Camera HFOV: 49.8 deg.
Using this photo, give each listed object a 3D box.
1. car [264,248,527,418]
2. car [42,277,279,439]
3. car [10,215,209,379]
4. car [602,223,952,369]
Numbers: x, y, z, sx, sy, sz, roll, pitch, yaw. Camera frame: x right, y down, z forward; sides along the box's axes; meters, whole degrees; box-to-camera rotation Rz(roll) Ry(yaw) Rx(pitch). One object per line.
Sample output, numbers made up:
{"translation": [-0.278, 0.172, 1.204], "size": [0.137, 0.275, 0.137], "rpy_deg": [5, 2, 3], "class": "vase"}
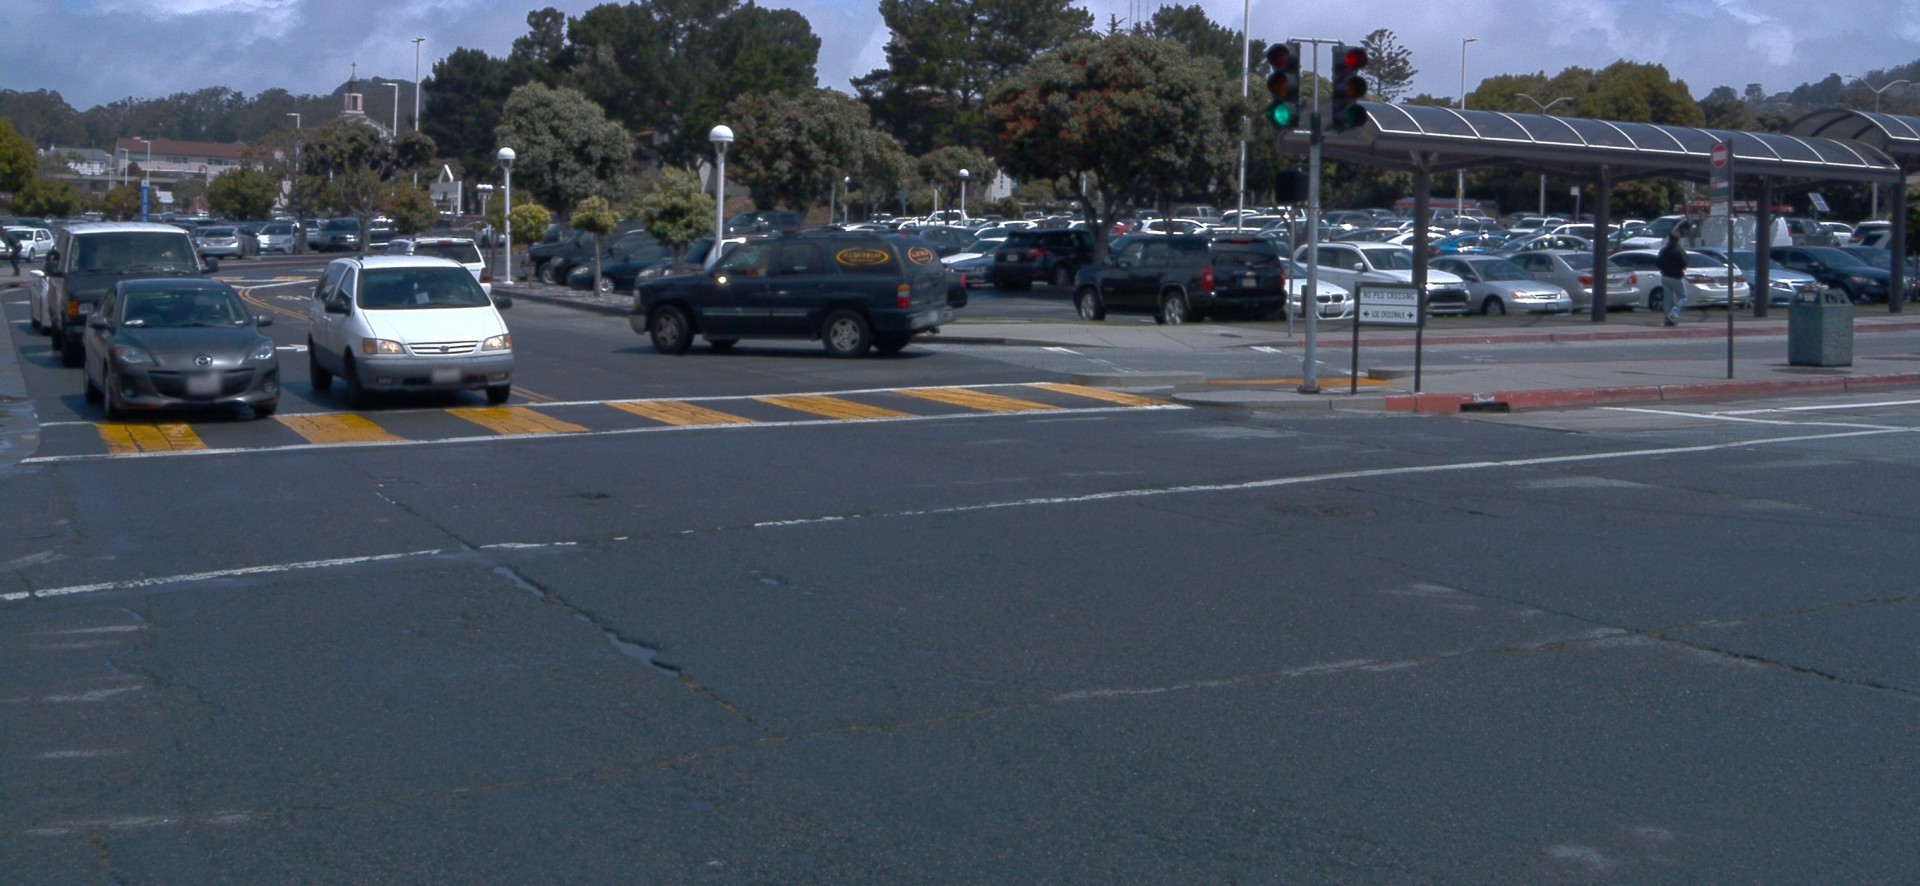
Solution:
{"translation": [-6.883, -1.427, 24.844], "size": [2.029, 1.742, 4.626], "rpy_deg": [-3, 6, -28], "class": "car"}
{"translation": [-8.994, -1.039, 23.032], "size": [1.964, 1.443, 4.393], "rpy_deg": [-3, 6, -27], "class": "car"}
{"translation": [-12.813, -2.301, 30.917], "size": [2.375, 2.190, 5.384], "rpy_deg": [-3, 6, -26], "class": "car"}
{"translation": [-2.802, -2.308, 31.759], "size": [4.903, 2.080, 2.158], "rpy_deg": [2, 4, 21], "class": "car"}
